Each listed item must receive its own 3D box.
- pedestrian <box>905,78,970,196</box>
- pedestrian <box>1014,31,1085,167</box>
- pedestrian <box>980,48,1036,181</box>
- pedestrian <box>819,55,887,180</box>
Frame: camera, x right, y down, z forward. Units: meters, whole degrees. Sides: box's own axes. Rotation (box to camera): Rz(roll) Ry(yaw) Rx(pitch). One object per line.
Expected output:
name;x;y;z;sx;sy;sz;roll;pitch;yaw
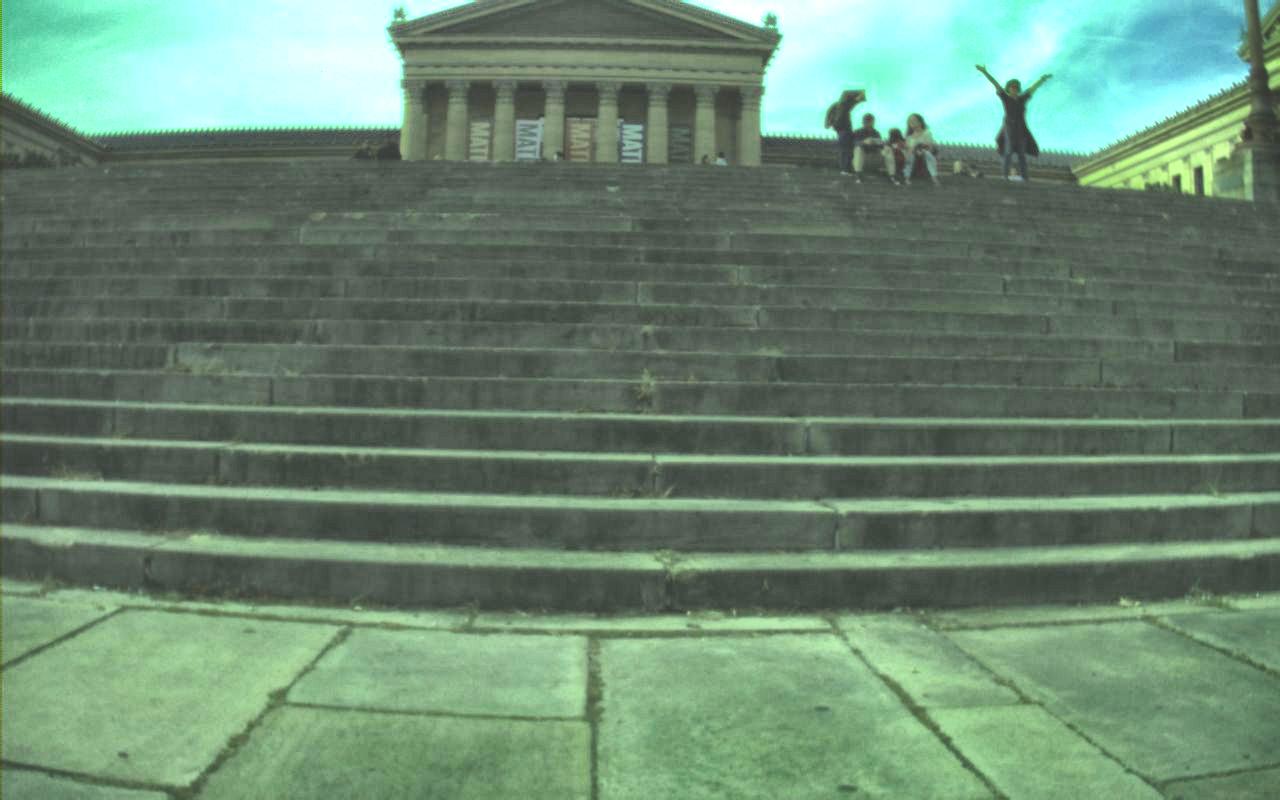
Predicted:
pedestrian;4.058;-3.576;16.697;0.763;1.492;0.798;0;0;5
pedestrian;6.047;-4.418;17.546;0.714;1.882;0.697;0;0;-25
pedestrian;5.454;-4.203;17.791;0.677;1.878;0.679;1;0;26
pedestrian;2.906;-3.843;16.863;0.713;1.584;0.765;0;0;-10
